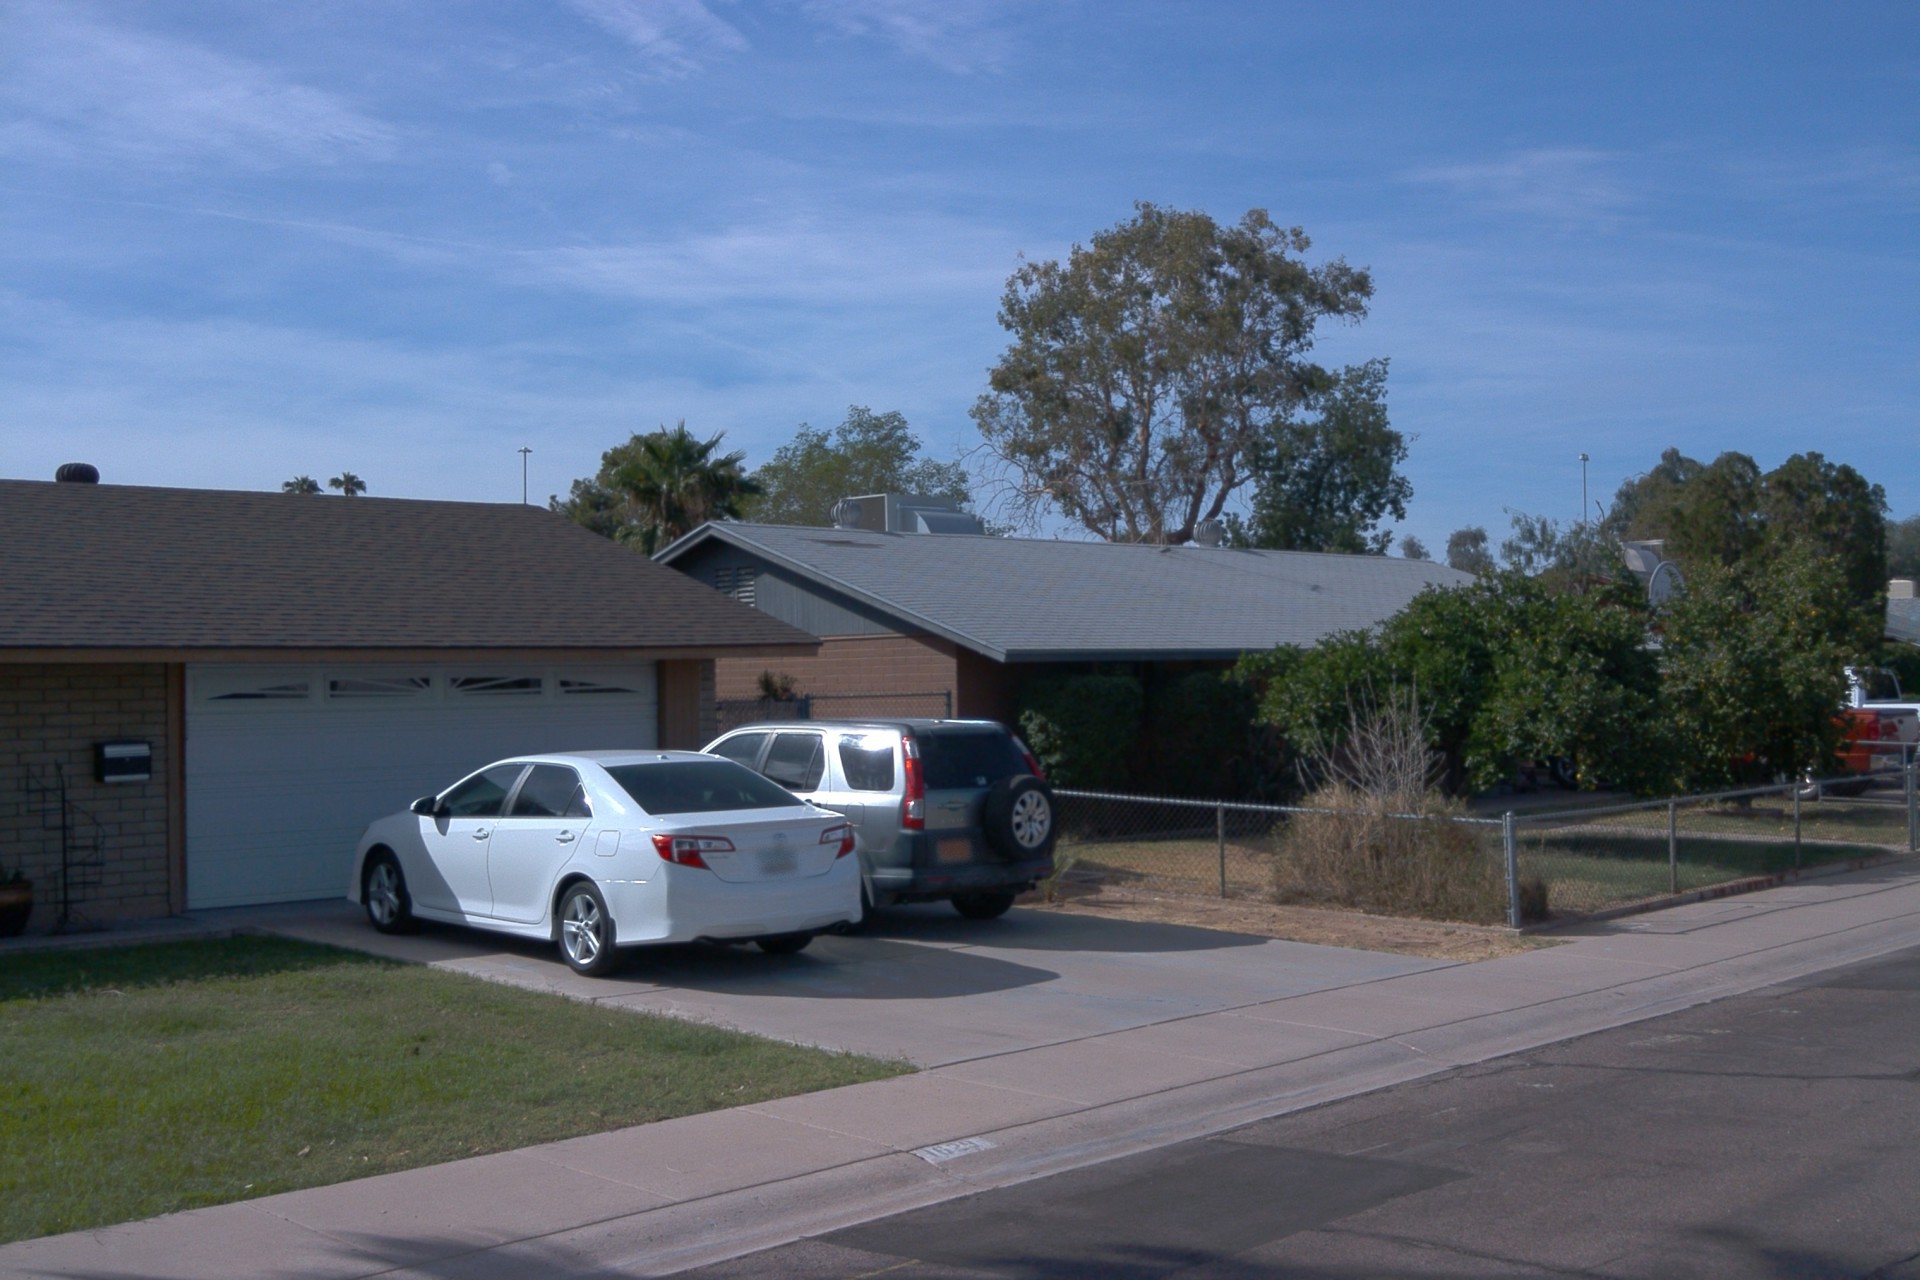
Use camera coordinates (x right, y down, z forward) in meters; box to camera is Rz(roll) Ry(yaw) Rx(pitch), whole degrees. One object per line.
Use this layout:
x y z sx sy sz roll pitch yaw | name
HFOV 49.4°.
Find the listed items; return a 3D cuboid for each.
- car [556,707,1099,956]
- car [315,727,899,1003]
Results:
-1.212 1.473 17.536 4.415 1.710 2.130 0 -1 44 | car
-2.792 1.522 15.654 2.112 1.580 4.721 1 -1 -42 | car
